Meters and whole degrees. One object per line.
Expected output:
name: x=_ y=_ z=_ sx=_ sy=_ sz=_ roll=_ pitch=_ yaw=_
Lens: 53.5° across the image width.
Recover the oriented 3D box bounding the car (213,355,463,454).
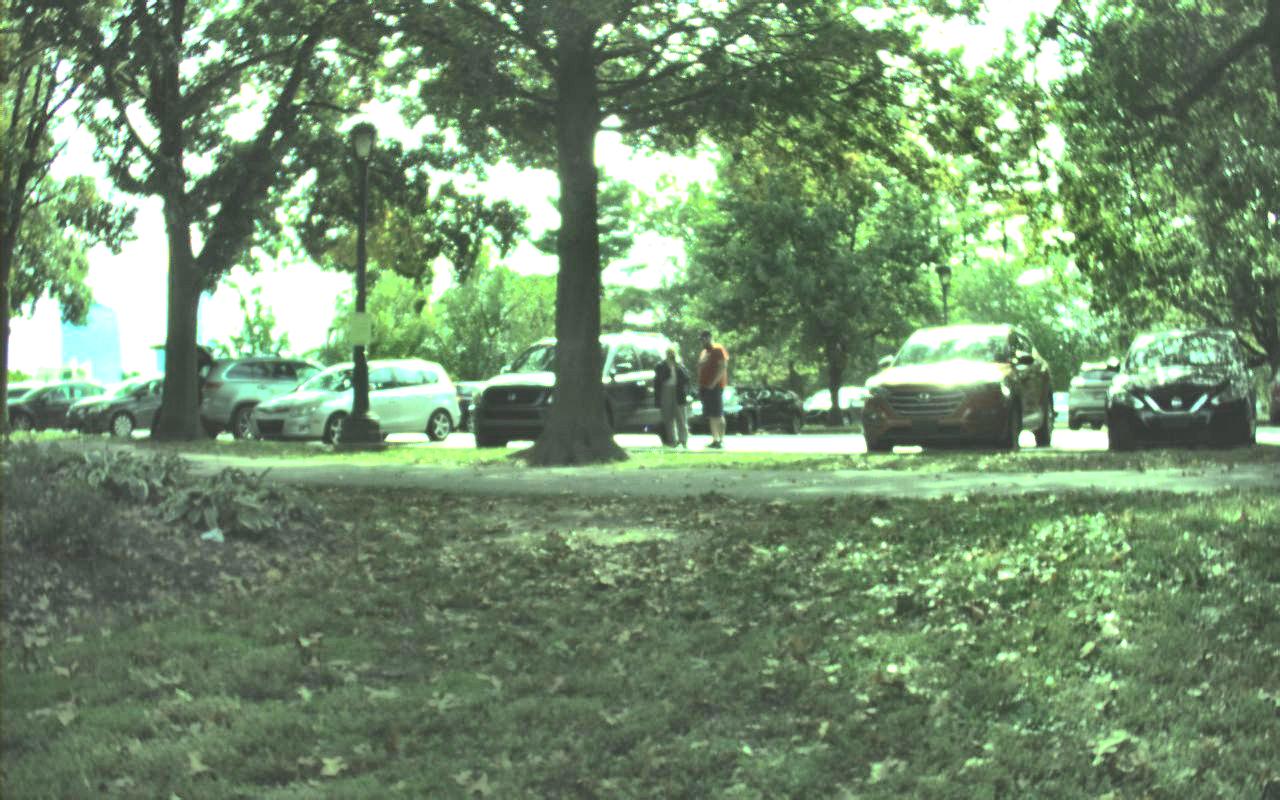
car: x=-5.379 y=0.034 z=22.271 sx=1.940 sy=1.606 sz=4.566 roll=1 pitch=1 yaw=33

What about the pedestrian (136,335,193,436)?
pedestrian: x=-9.046 y=-0.243 z=22.496 sx=0.968 sy=1.880 sz=0.890 roll=0 pitch=0 yaw=-35

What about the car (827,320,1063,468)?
car: x=4.083 y=-0.112 z=15.829 sx=1.963 sy=1.620 sz=4.526 roll=1 pitch=1 yaw=29

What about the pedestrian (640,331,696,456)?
pedestrian: x=0.413 y=-0.100 z=18.890 sx=0.773 sy=1.815 sz=0.756 roll=0 pitch=0 yaw=-2

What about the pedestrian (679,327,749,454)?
pedestrian: x=1.119 y=-0.148 z=19.213 sx=0.766 sy=1.869 sz=0.759 roll=1 pitch=0 yaw=34

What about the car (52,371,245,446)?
car: x=-11.394 y=0.203 z=27.318 sx=1.948 sy=1.605 sz=4.417 roll=1 pitch=1 yaw=36

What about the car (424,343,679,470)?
car: x=-1.182 y=0.027 z=19.015 sx=2.000 sy=1.659 sz=4.552 roll=1 pitch=1 yaw=23

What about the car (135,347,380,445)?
car: x=-7.539 y=-0.087 z=23.912 sx=1.998 sy=1.775 sz=4.653 roll=1 pitch=1 yaw=43

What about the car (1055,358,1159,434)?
car: x=11.427 y=-0.094 z=29.122 sx=1.967 sy=1.688 sz=4.487 roll=1 pitch=1 yaw=30

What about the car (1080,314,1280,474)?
car: x=6.615 y=-0.084 z=13.888 sx=1.957 sy=1.604 sz=4.513 roll=1 pitch=1 yaw=33
